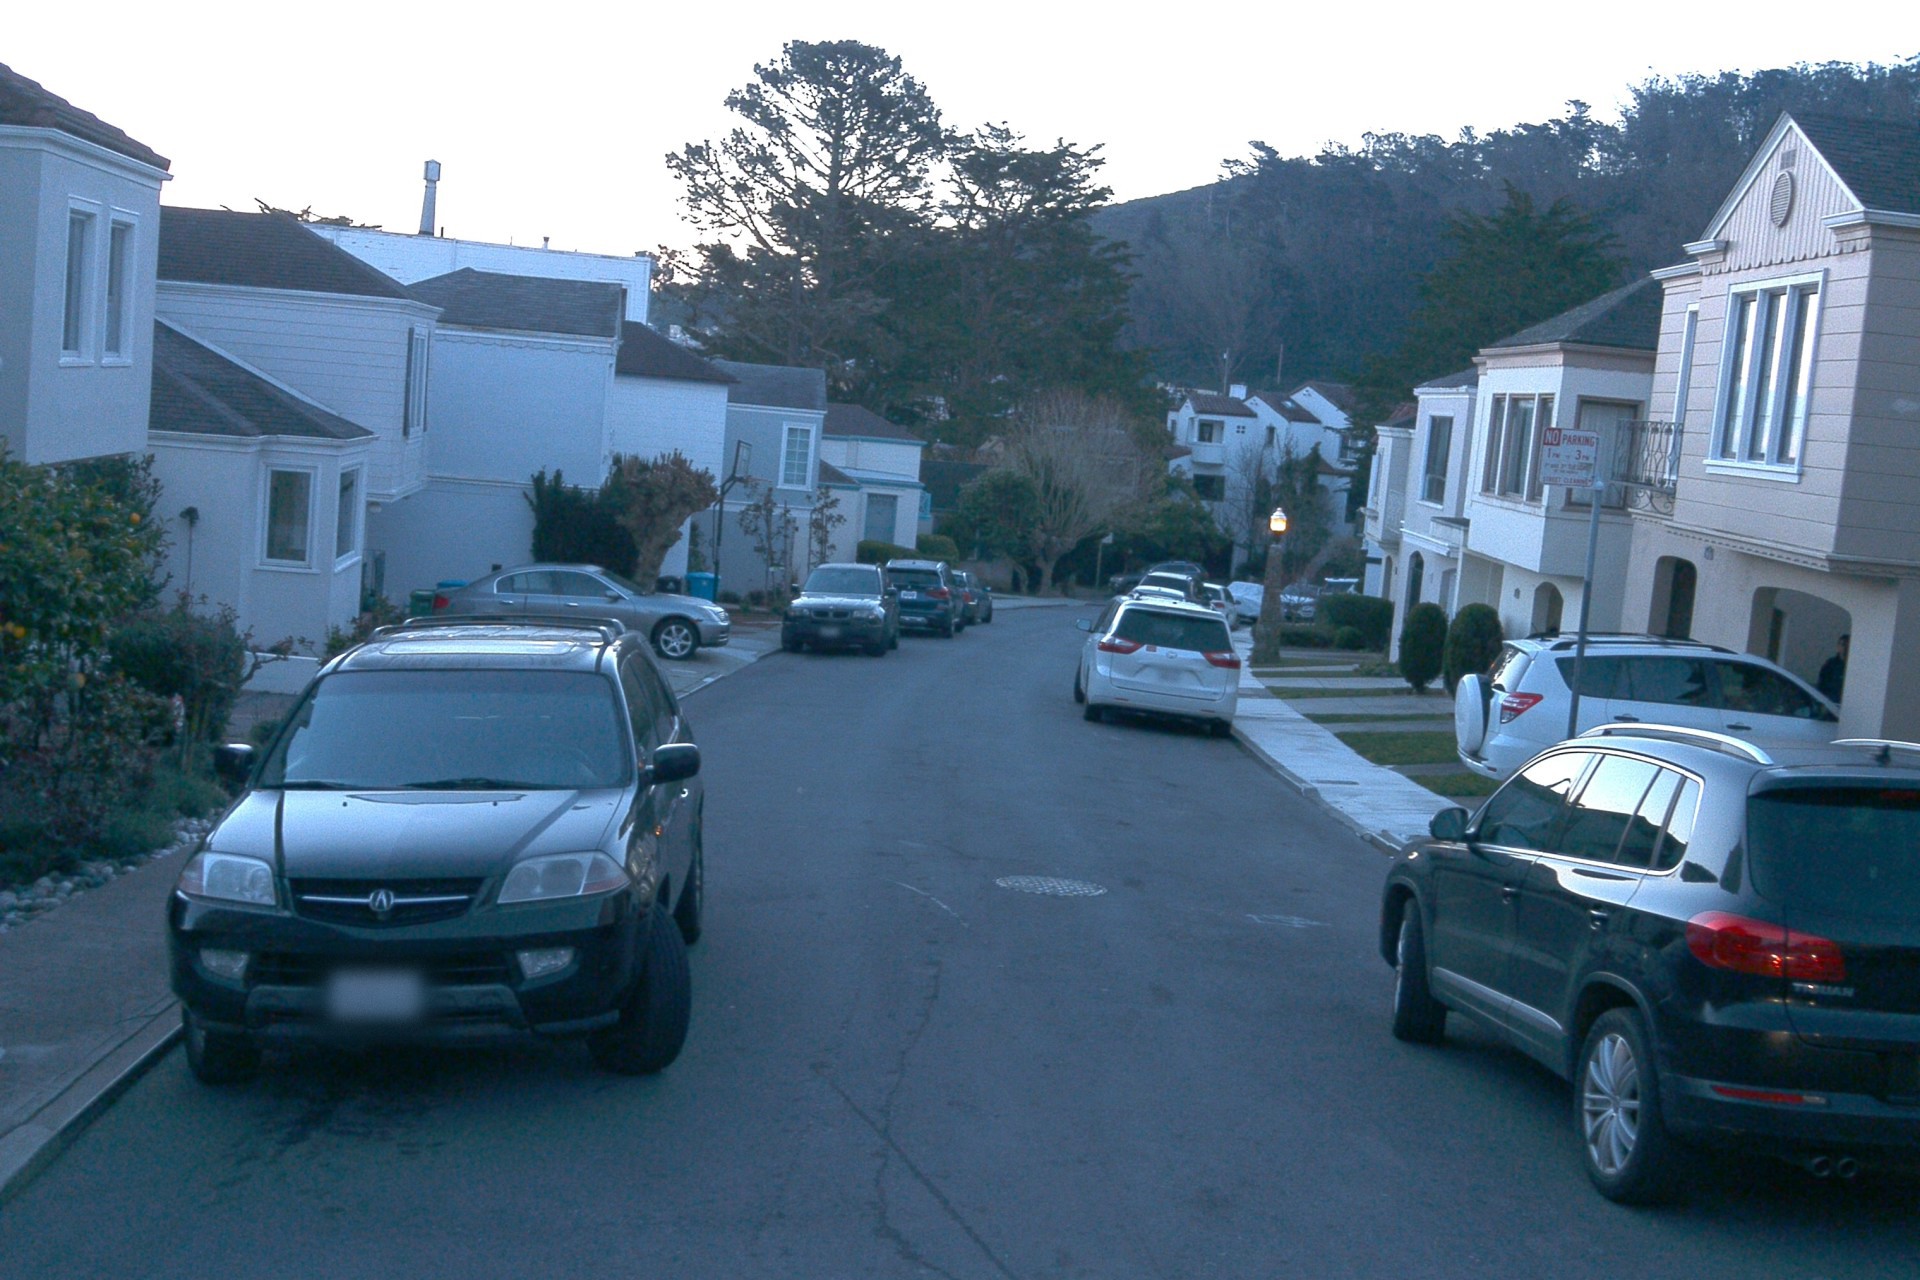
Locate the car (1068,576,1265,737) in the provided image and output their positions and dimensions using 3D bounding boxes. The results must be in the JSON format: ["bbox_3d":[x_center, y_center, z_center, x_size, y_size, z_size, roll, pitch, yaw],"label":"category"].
[{"bbox_3d":[2.771,0.204,29.053,2.375,2.050,5.077,0,0,1],"label":"car"}]

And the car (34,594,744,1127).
[{"bbox_3d":[-2.292,0.774,9.879,2.327,1.880,4.863,0,0,-4],"label":"car"}]

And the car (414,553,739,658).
[{"bbox_3d":[-5.950,-0.535,32.637,4.770,1.580,1.988,0,0,-2],"label":"car"}]
